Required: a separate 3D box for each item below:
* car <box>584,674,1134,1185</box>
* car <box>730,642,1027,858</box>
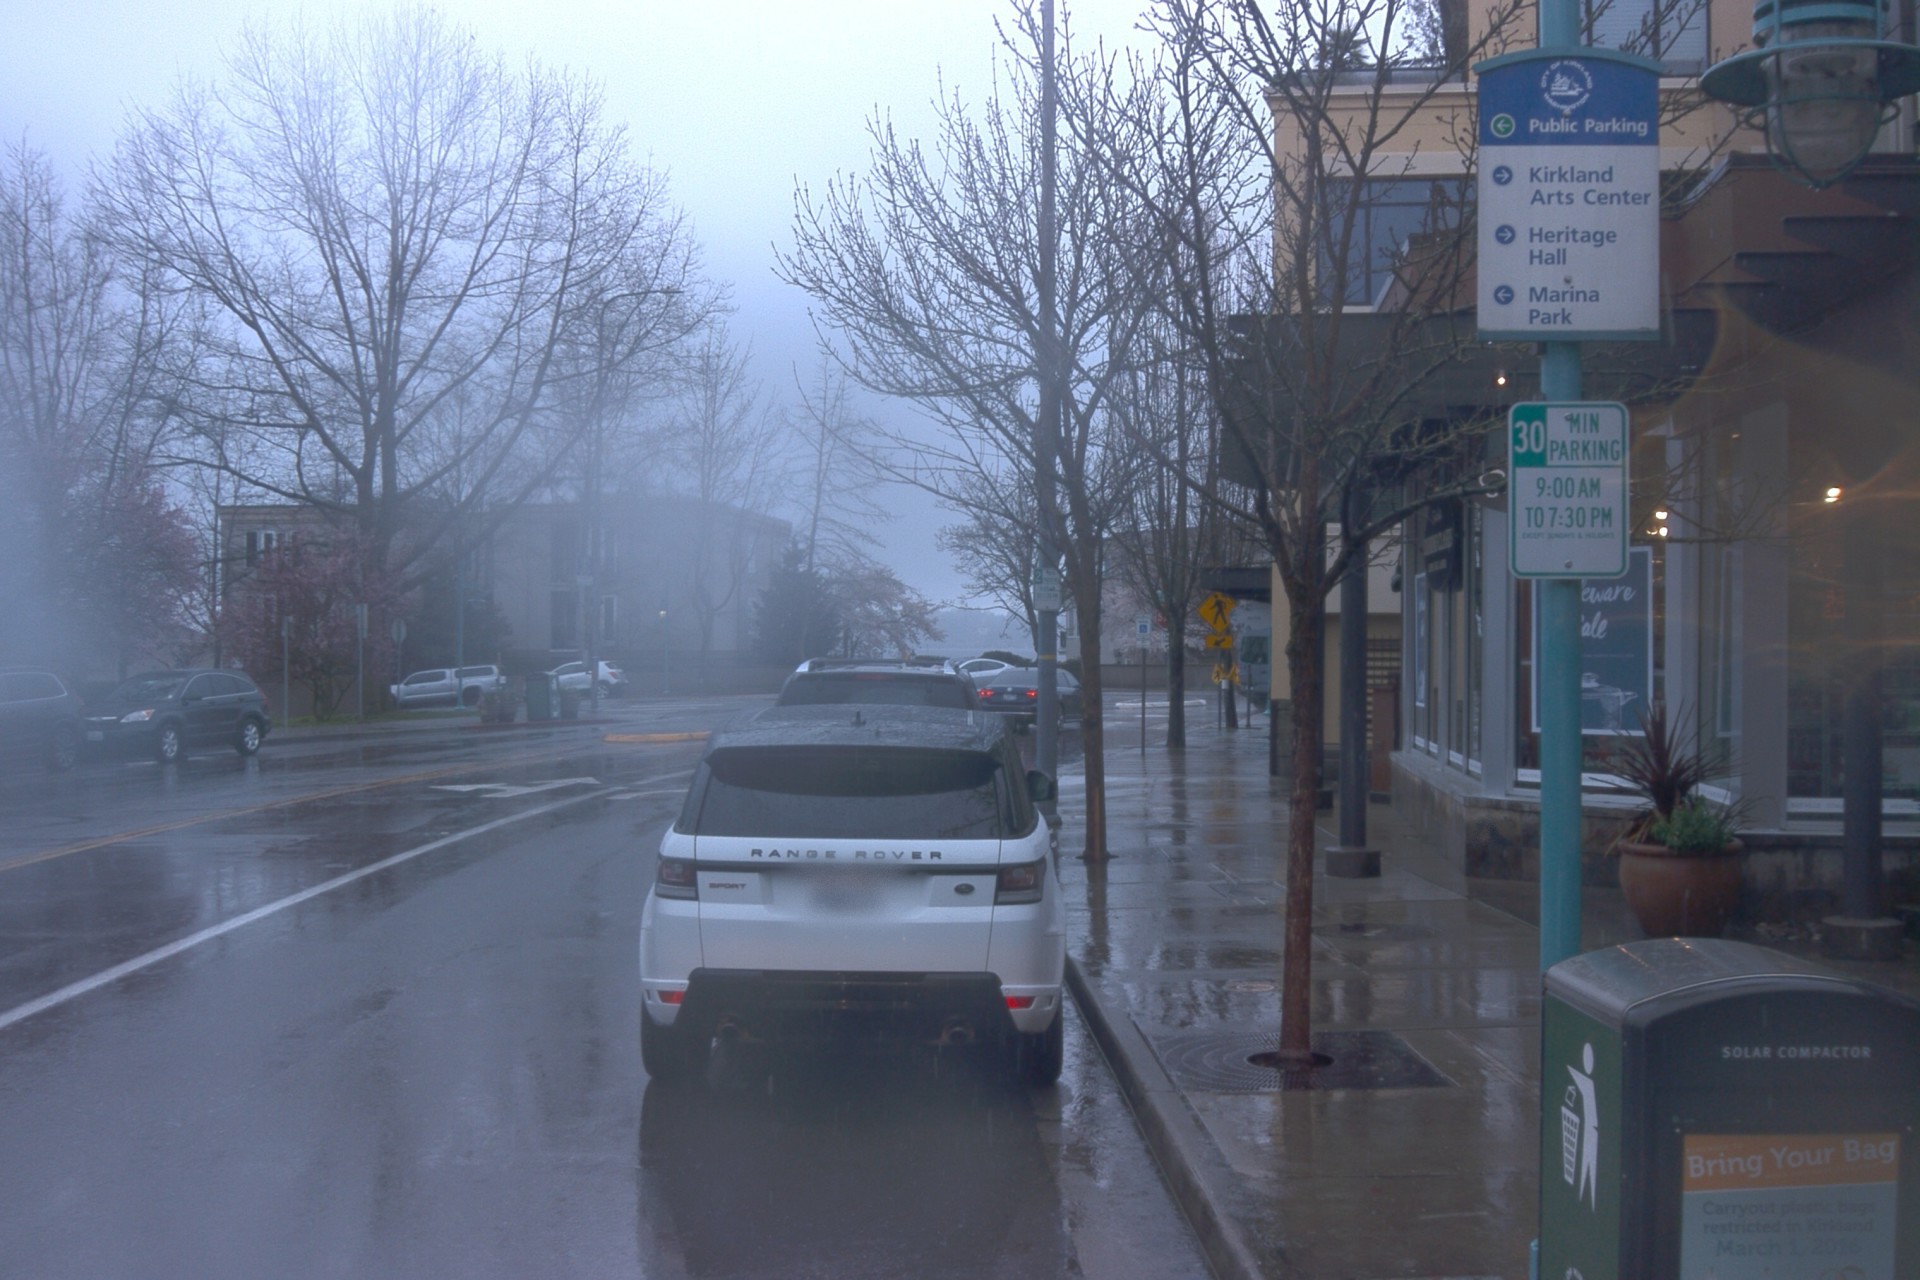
[{"bbox_3d":[-0.518,1.261,11.131,2.265,2.000,5.125,1,0,-2],"label":"car"},{"bbox_3d":[-0.710,0.833,17.963,2.210,1.560,5.097,1,0,-2],"label":"car"}]
